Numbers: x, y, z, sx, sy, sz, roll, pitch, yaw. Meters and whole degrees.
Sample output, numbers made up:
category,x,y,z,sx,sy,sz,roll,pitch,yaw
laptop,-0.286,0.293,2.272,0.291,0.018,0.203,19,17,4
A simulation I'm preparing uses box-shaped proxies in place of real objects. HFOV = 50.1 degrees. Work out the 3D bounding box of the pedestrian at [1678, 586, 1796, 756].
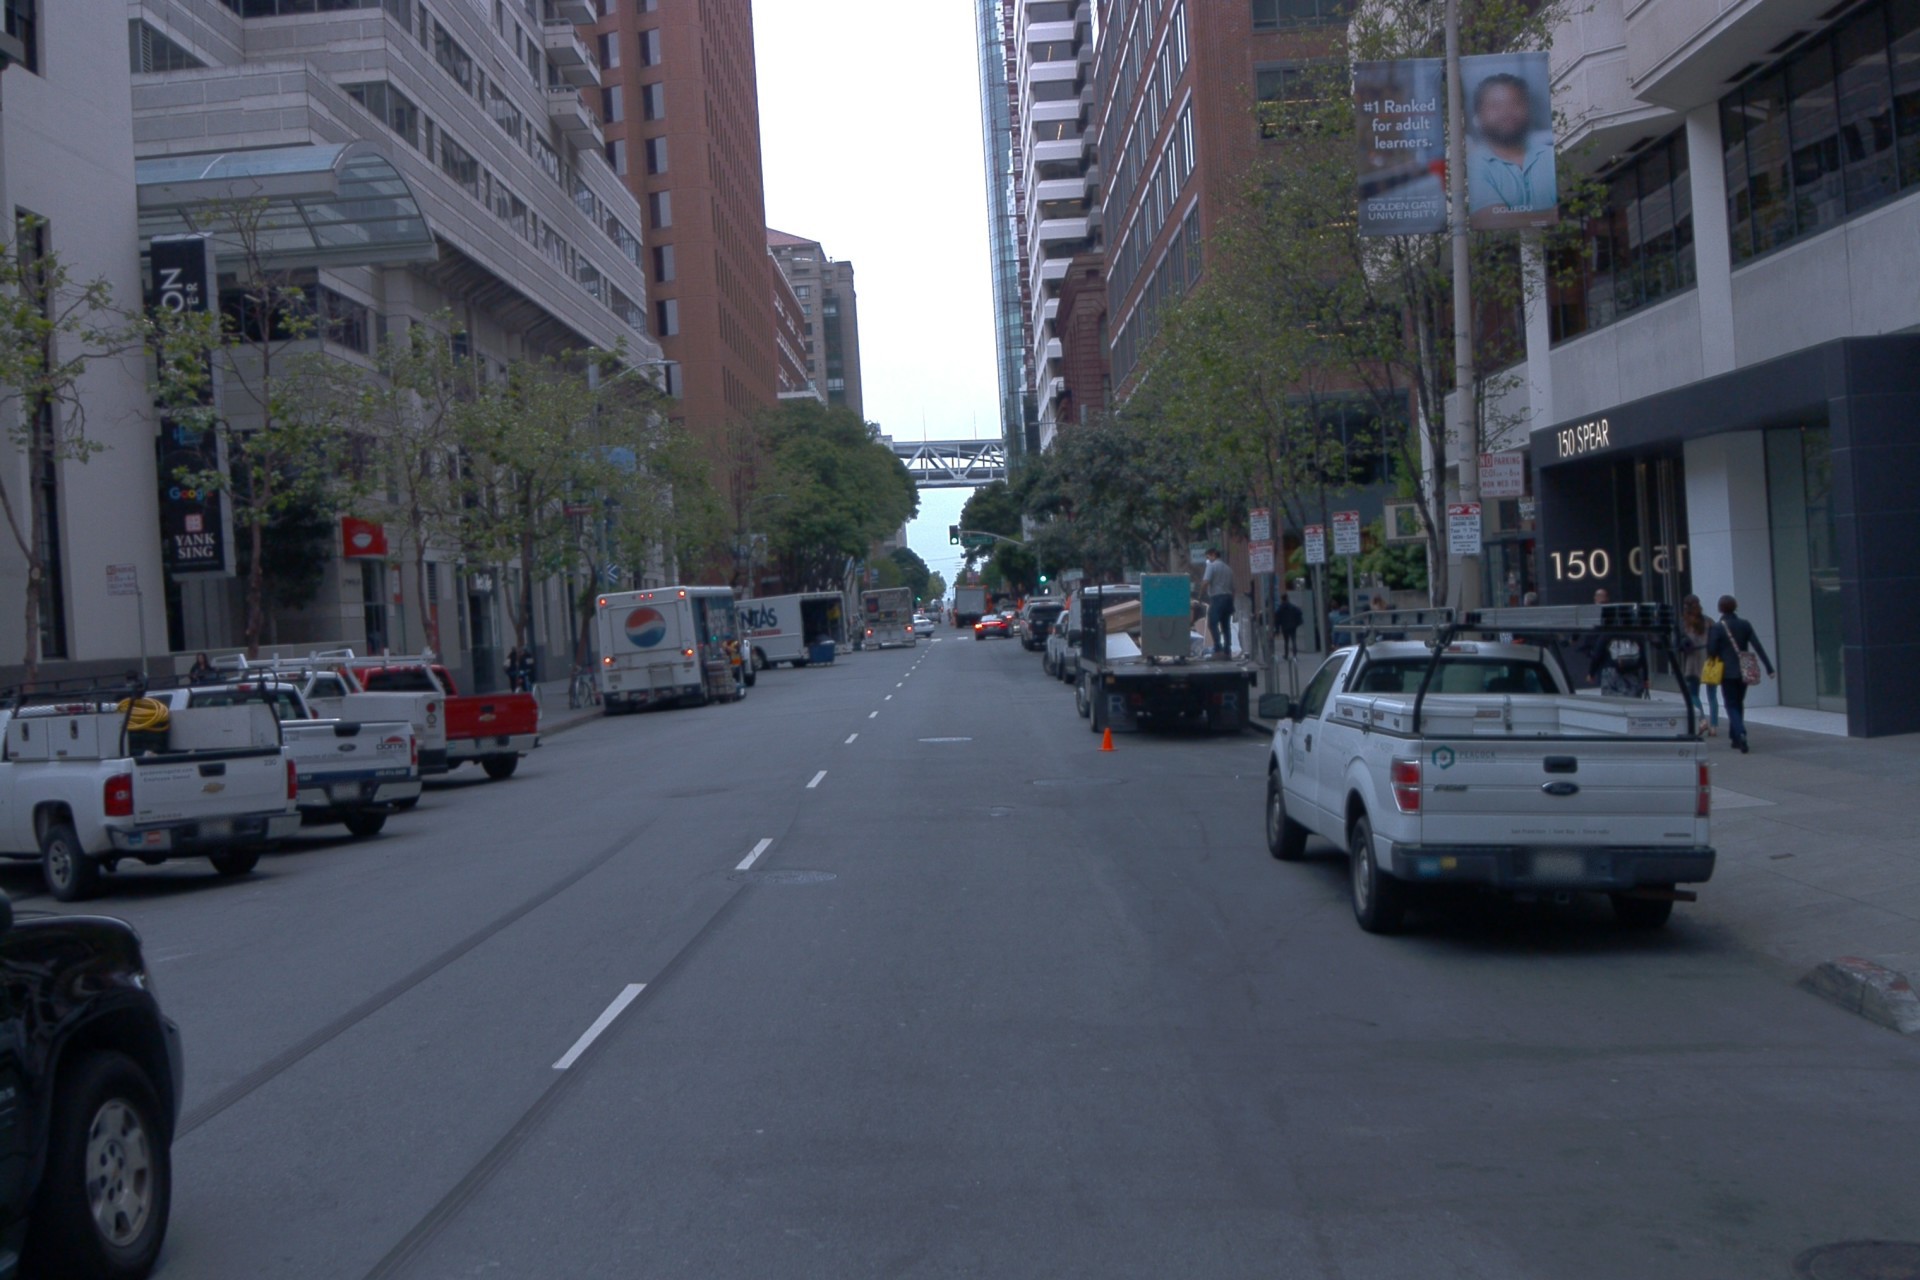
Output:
category,x,y,z,sx,sy,sz,roll,pitch,yaw
pedestrian,8.258,0.316,21.894,0.945,1.770,0.913,0,1,4

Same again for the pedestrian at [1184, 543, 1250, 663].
category,x,y,z,sx,sy,sz,roll,pitch,yaw
pedestrian,3.894,-0.556,31.157,0.765,1.800,0.660,-1,1,-23

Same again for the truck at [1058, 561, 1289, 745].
category,x,y,z,sx,sy,sz,roll,pitch,yaw
truck,3.280,0.131,33.784,2.887,2.649,8.209,0,1,0

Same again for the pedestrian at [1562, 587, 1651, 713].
category,x,y,z,sx,sy,sz,roll,pitch,yaw
pedestrian,9.216,0.135,29.335,0.898,1.760,1.111,0,1,-1

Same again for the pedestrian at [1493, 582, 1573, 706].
category,x,y,z,sx,sy,sz,roll,pitch,yaw
pedestrian,8.822,0.057,31.695,0.933,1.880,1.073,0,1,0

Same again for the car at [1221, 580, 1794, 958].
category,x,y,z,sx,sy,sz,roll,pitch,yaw
car,3.589,0.718,15.066,2.514,2.200,6.098,0,1,0

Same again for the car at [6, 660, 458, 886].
category,x,y,z,sx,sy,sz,roll,pitch,yaw
car,-8.659,1.400,24.091,5.997,2.200,2.498,0,1,43

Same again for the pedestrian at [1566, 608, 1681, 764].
category,x,y,z,sx,sy,sz,roll,pitch,yaw
pedestrian,7.303,0.486,22.665,1.001,1.680,0.999,0,1,5

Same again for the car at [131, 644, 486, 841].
category,x,y,z,sx,sy,sz,roll,pitch,yaw
car,-9.099,1.274,28.373,2.647,2.344,5.713,-1,1,-40

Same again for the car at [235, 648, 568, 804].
category,x,y,z,sx,sy,sz,roll,pitch,yaw
car,-8.941,1.250,32.555,5.910,2.150,2.431,1,1,45

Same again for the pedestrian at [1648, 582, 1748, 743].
category,x,y,z,sx,sy,sz,roll,pitch,yaw
pedestrian,8.527,0.254,23.785,0.833,1.826,0.912,0,1,2
